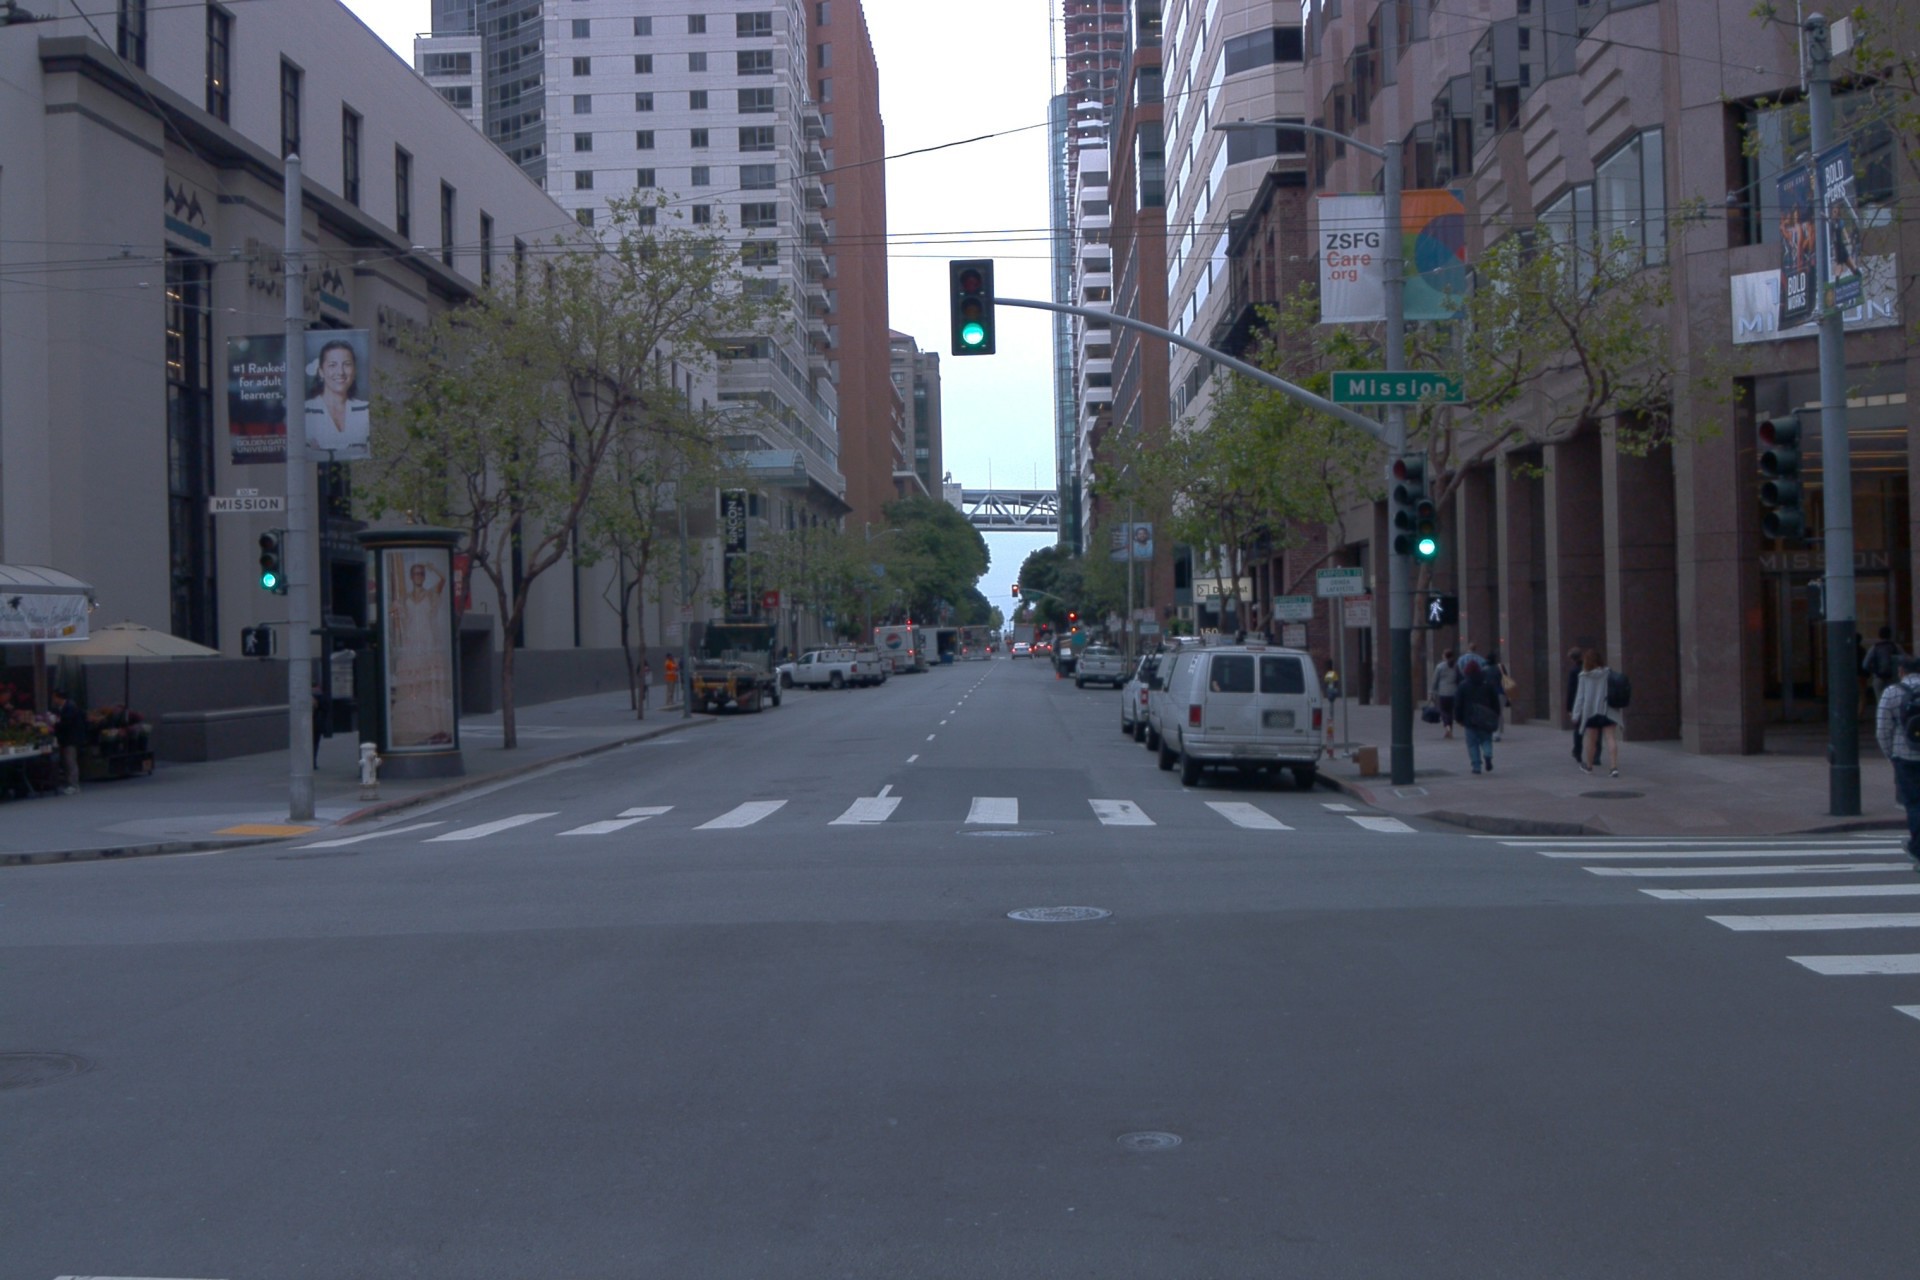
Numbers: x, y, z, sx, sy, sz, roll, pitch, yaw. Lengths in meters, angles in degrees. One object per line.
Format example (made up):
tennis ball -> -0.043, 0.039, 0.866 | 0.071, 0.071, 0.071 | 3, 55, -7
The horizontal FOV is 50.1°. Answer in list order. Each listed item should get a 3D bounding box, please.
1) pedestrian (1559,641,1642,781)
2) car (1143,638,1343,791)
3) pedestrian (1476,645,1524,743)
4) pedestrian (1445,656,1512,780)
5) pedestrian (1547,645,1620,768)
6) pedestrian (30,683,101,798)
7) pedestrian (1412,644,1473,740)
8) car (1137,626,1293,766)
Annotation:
pedestrian -> 8.654, 0.946, 27.799 | 0.843, 1.856, 0.960 | 0, 1, 2
car -> 4.255, 1.056, 31.886 | 2.314, 2.100, 5.500 | 0, 1, 0
pedestrian -> 9.374, 0.930, 35.693 | 0.668, 1.666, 0.852 | 0, 1, 5
pedestrian -> 7.379, 1.099, 29.270 | 0.758, 1.713, 0.969 | 0, 1, 4
pedestrian -> 9.004, 0.949, 29.717 | 0.856, 1.736, 0.996 | 0, 1, 8
pedestrian -> -14.024, 1.568, 32.236 | 0.753, 1.746, 0.847 | 0, 1, -3
pedestrian -> 8.753, 0.935, 37.325 | 0.919, 1.696, 0.981 | 0, 1, 4
car -> 4.630, 0.942, 38.147 | 2.274, 2.380, 5.494 | 0, 1, 1
